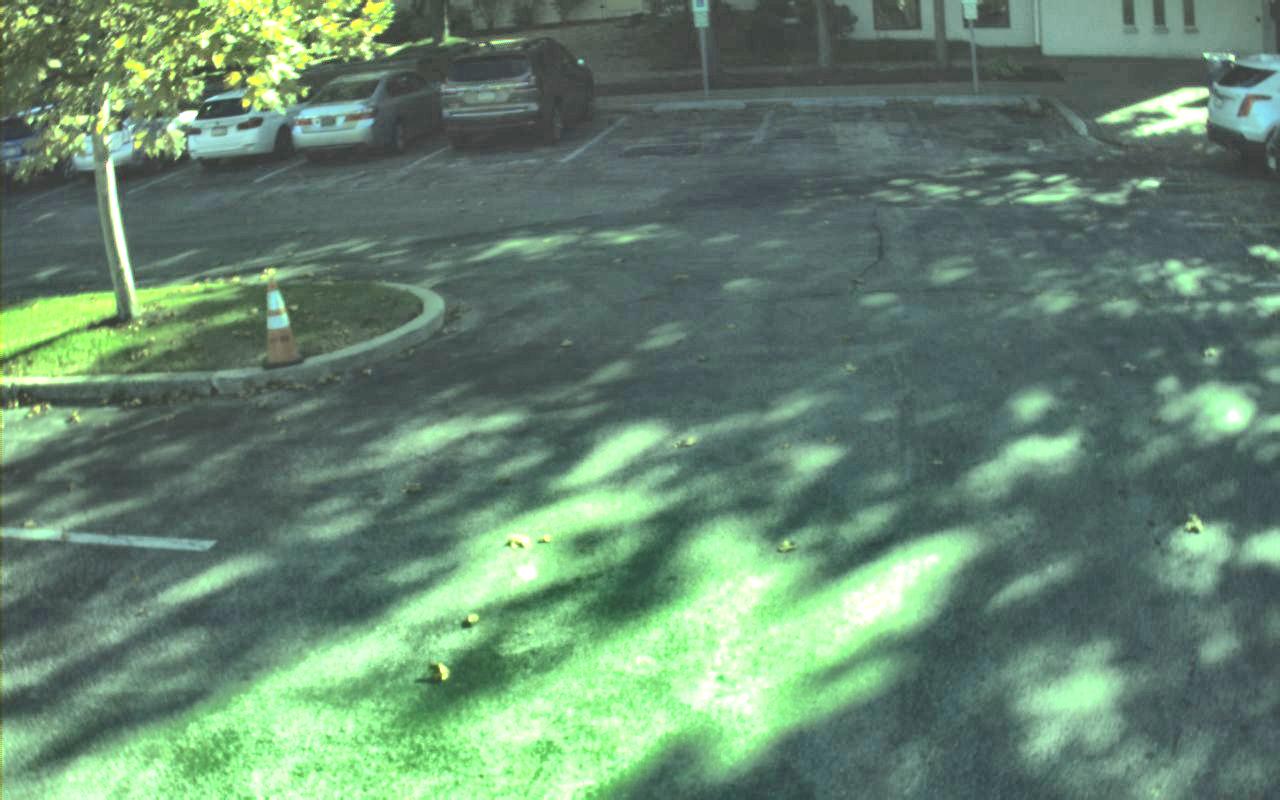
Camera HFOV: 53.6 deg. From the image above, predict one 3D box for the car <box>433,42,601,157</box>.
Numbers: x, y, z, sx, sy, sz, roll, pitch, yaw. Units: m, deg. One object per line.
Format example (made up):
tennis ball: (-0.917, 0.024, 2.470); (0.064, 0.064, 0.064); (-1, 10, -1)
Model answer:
car: (-2.071, -5.459, 22.085); (2.008, 1.736, 4.626); (1, 17, 7)

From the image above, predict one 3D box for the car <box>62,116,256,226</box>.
car: (-9.817, -4.725, 24.010); (1.951, 1.607, 4.536); (2, 17, 12)

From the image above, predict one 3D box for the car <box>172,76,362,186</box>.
car: (-7.192, -5.295, 23.345); (1.948, 1.630, 4.553); (2, 17, 10)

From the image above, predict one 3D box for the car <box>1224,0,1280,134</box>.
car: (10.652, -4.786, 14.870); (4.637, 1.693, 2.010); (1, 16, 8)

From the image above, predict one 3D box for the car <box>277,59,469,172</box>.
car: (-4.786, -5.275, 22.339); (1.939, 1.656, 4.497); (2, 17, 11)

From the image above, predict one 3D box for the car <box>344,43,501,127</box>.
car: (-5.100, -7.574, 29.177); (1.986, 1.678, 4.771); (3, 17, 14)
